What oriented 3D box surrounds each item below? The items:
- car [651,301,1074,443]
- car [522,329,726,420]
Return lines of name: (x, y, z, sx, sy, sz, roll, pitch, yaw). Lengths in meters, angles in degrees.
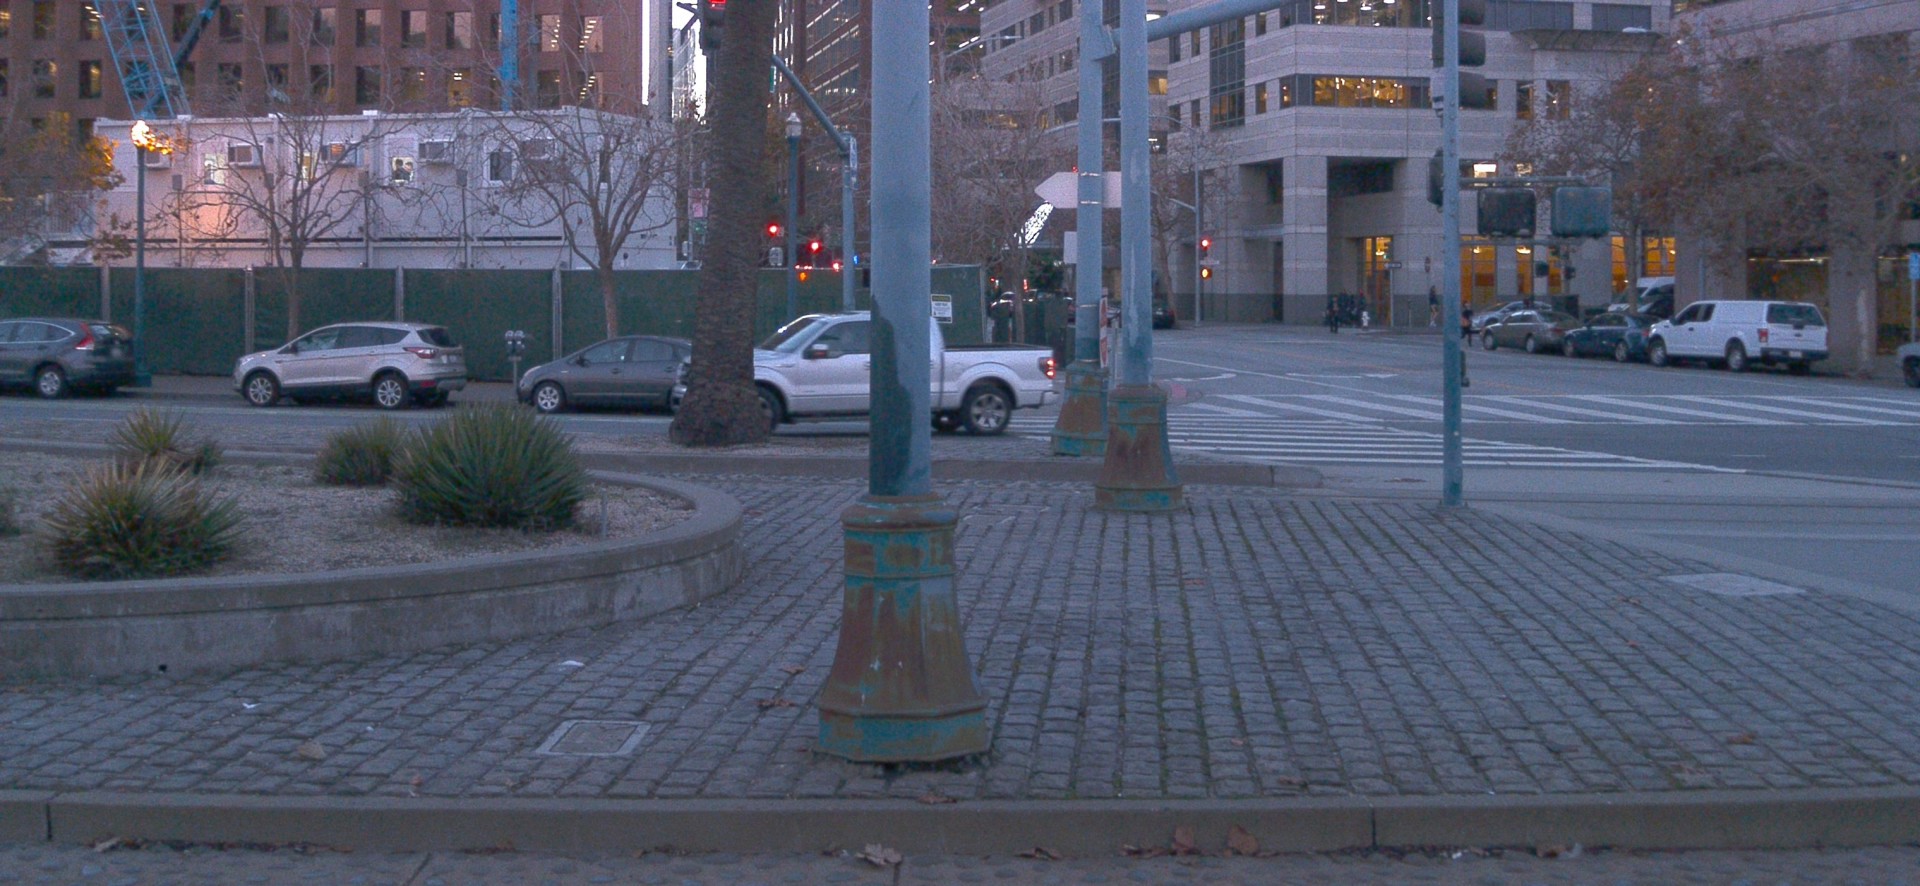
car: (-1.514, -1.164, 31.819, 5.978, 1.904, 2.527, -2, 5, -21)
car: (-6.208, -1.293, 38.464, 3.390, 1.486, 1.558, 2, 4, 17)
